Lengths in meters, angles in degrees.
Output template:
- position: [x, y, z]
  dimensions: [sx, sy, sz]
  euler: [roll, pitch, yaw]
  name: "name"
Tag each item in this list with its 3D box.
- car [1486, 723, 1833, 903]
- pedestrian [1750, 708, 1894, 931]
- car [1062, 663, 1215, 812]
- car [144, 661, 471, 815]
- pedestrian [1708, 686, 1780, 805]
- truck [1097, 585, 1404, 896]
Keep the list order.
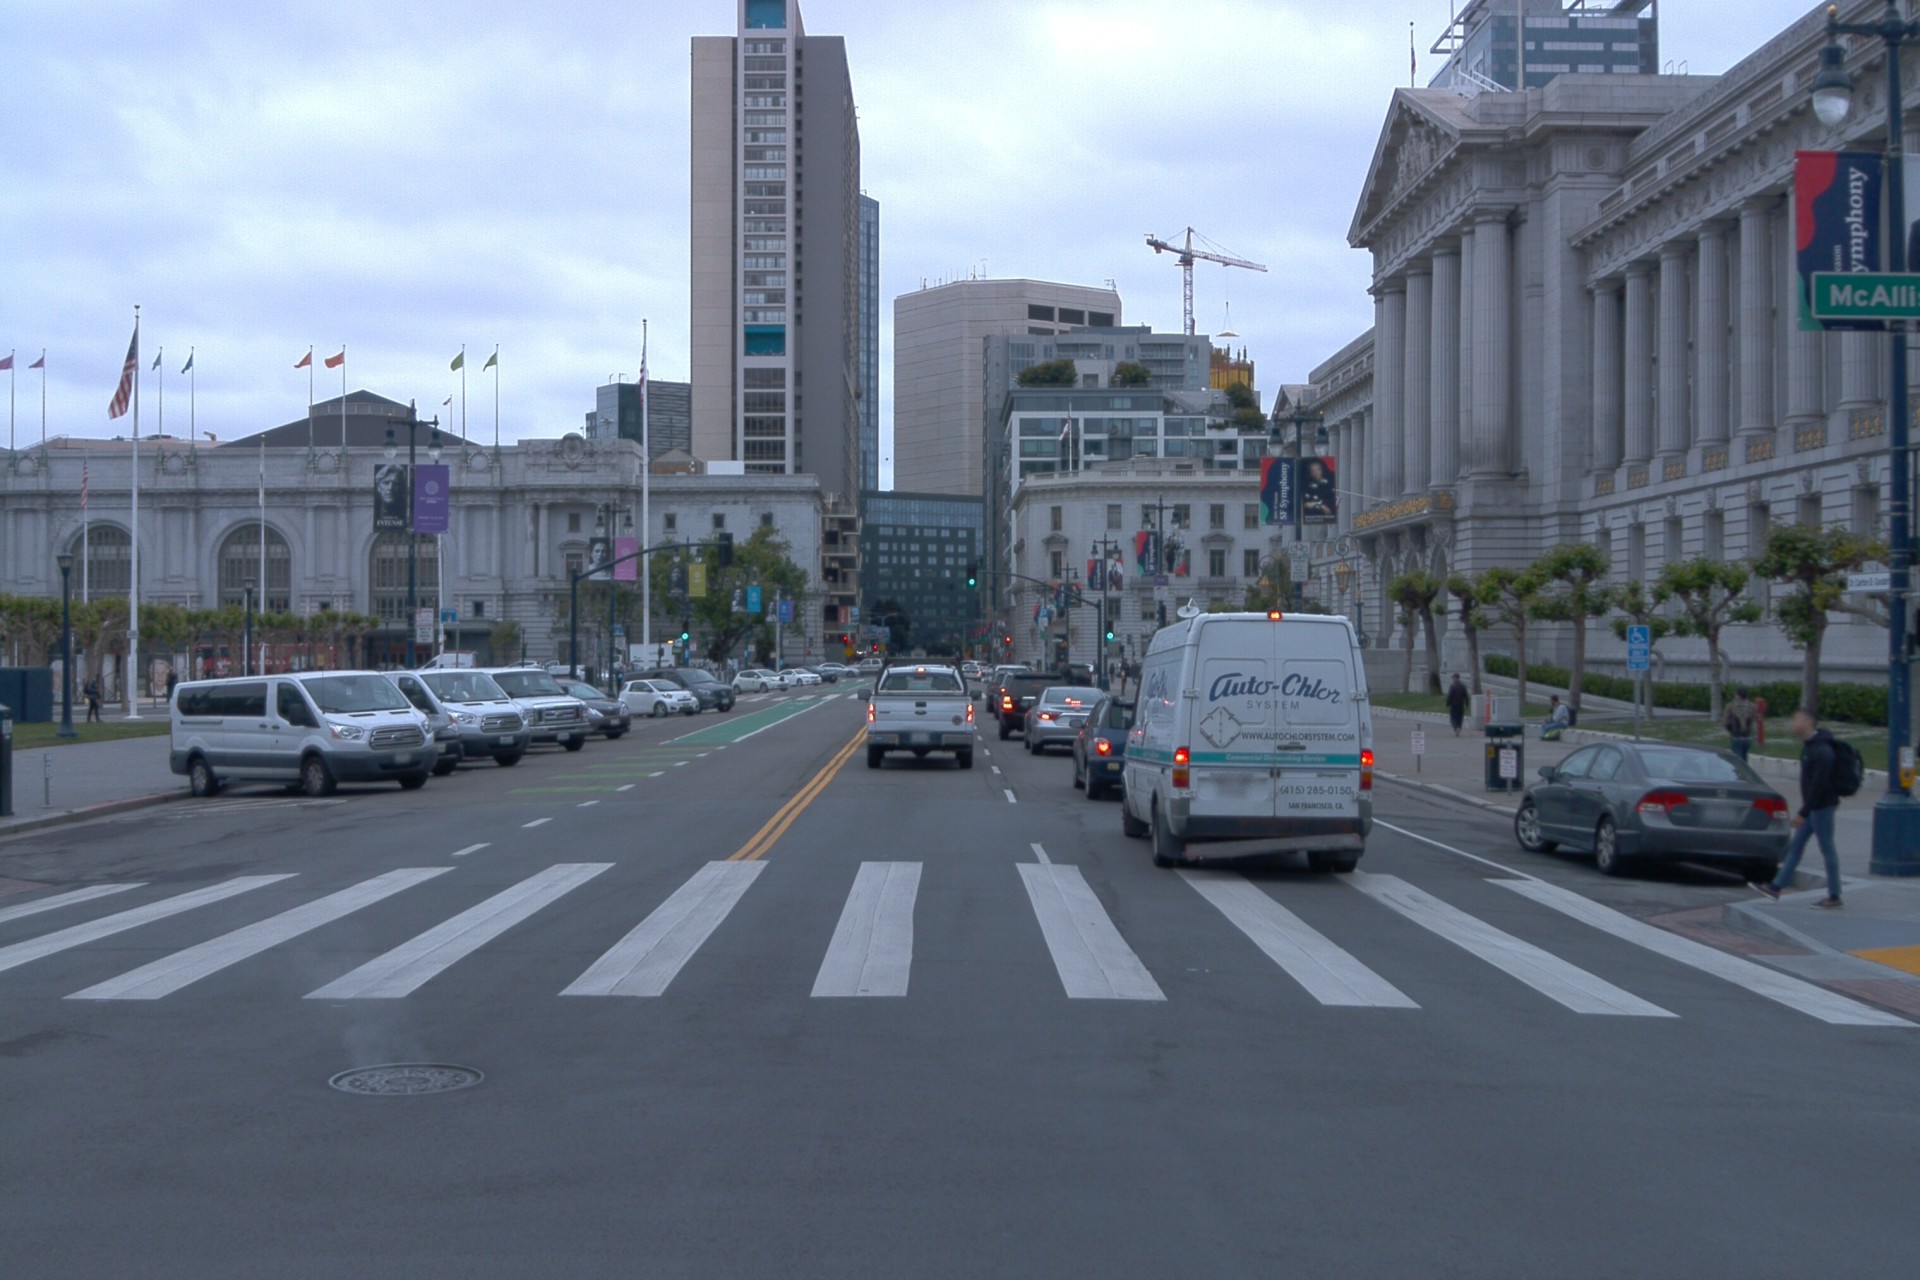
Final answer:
- position: [7.551, 1.813, 22.757]
  dimensions: [2.033, 1.512, 4.560]
  euler: [0, 1, -4]
  name: "car"
- position: [7.268, 1.479, 17.334]
  dimensions: [0.939, 1.760, 0.827]
  euler: [0, 1, 38]
  name: "pedestrian"
- position: [2.629, 1.406, 31.118]
  dimensions: [1.934, 1.990, 4.032]
  euler: [0, 1, 0]
  name: "car"
- position: [-11.234, 1.570, 35.116]
  dimensions: [6.165, 2.264, 2.497]
  euler: [1, 1, 41]
  name: "car"
- position: [12.433, 1.661, 32.622]
  dimensions: [0.741, 1.815, 0.998]
  euler: [0, 1, -1]
  name: "pedestrian"
- position: [2.877, 0.876, 22.030]
  dimensions: [2.404, 2.850, 6.221]
  euler: [0, 1, 0]
  name: "truck"
